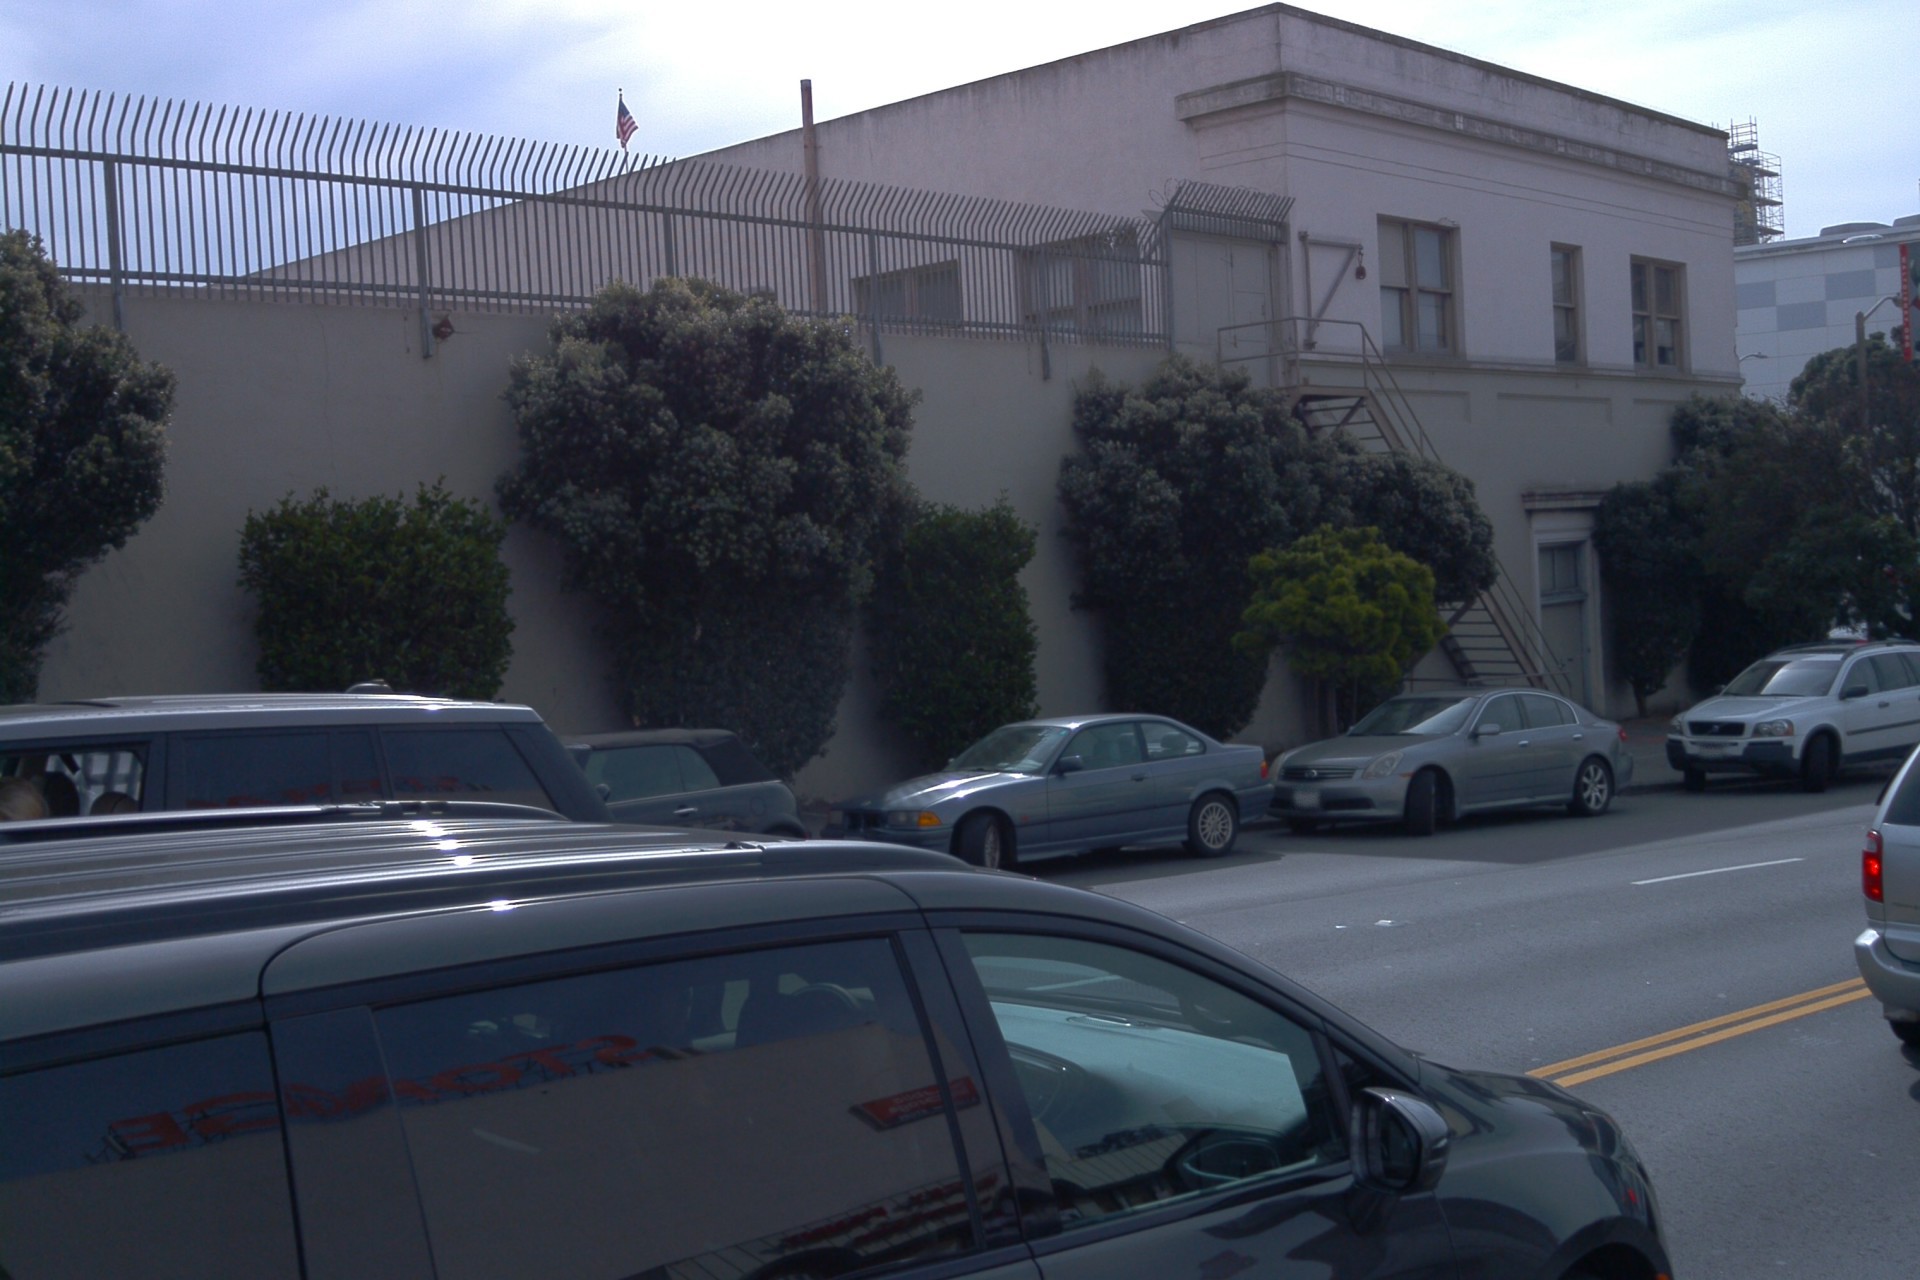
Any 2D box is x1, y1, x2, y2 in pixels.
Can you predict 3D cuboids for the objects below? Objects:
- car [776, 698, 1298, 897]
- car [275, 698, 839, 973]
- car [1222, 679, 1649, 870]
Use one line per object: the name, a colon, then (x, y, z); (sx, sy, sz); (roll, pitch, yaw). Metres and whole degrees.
car: (0.770, 1.314, 18.531); (4.448, 1.390, 2.035); (-1, 1, -39)
car: (-2.875, 1.311, 15.173); (1.796, 1.600, 3.729); (1, 1, 44)
car: (5.118, 1.316, 21.785); (4.687, 1.660, 2.019); (-1, 1, -41)
